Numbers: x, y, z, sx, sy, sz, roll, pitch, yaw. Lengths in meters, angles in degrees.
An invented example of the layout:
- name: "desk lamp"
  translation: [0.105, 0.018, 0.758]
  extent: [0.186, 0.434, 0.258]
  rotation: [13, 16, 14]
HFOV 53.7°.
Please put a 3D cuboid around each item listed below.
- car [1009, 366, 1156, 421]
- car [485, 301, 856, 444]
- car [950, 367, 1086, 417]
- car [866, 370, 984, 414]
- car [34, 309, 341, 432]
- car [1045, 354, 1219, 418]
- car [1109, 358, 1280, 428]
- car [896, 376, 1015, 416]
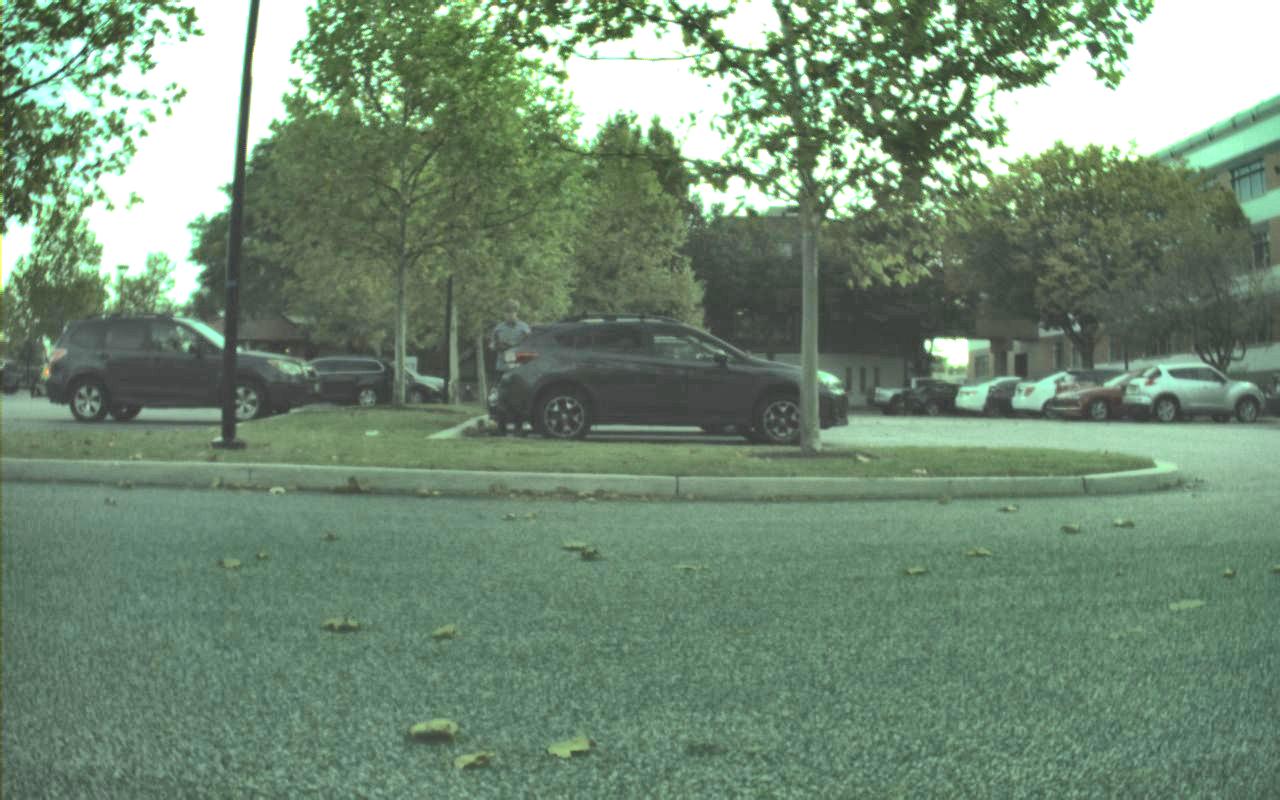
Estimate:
- name: "car"
  translation: [14.038, -0.163, 38.162]
  extent: [4.459, 1.687, 1.955]
  rotation: [0, 1, 0]
- name: "car"
  translation: [0.321, -0.343, 16.070]
  extent: [4.486, 1.684, 1.950]
  rotation: [0, 1, -5]
- name: "car"
  translation: [13.378, -0.243, 43.257]
  extent: [4.577, 1.719, 1.997]
  rotation: [0, 1, -1]
- name: "car"
  translation: [12.851, -0.347, 55.992]
  extent: [5.007, 1.917, 2.100]
  rotation: [0, 1, -4]
- name: "car"
  translation: [-7.125, -0.457, 18.640]
  extent: [4.727, 1.784, 2.026]
  rotation: [0, 1, -3]
- name: "car"
  translation: [13.628, -0.341, 32.792]
  extent: [4.669, 1.687, 1.999]
  rotation: [0, 1, -1]
- name: "car"
  translation: [14.499, -0.133, 30.171]
  extent: [4.543, 1.714, 1.976]
  rotation: [0, 1, -2]
- name: "car"
  translation: [13.025, -0.143, 50.940]
  extent: [4.589, 1.601, 1.960]
  rotation: [0, 1, -11]
